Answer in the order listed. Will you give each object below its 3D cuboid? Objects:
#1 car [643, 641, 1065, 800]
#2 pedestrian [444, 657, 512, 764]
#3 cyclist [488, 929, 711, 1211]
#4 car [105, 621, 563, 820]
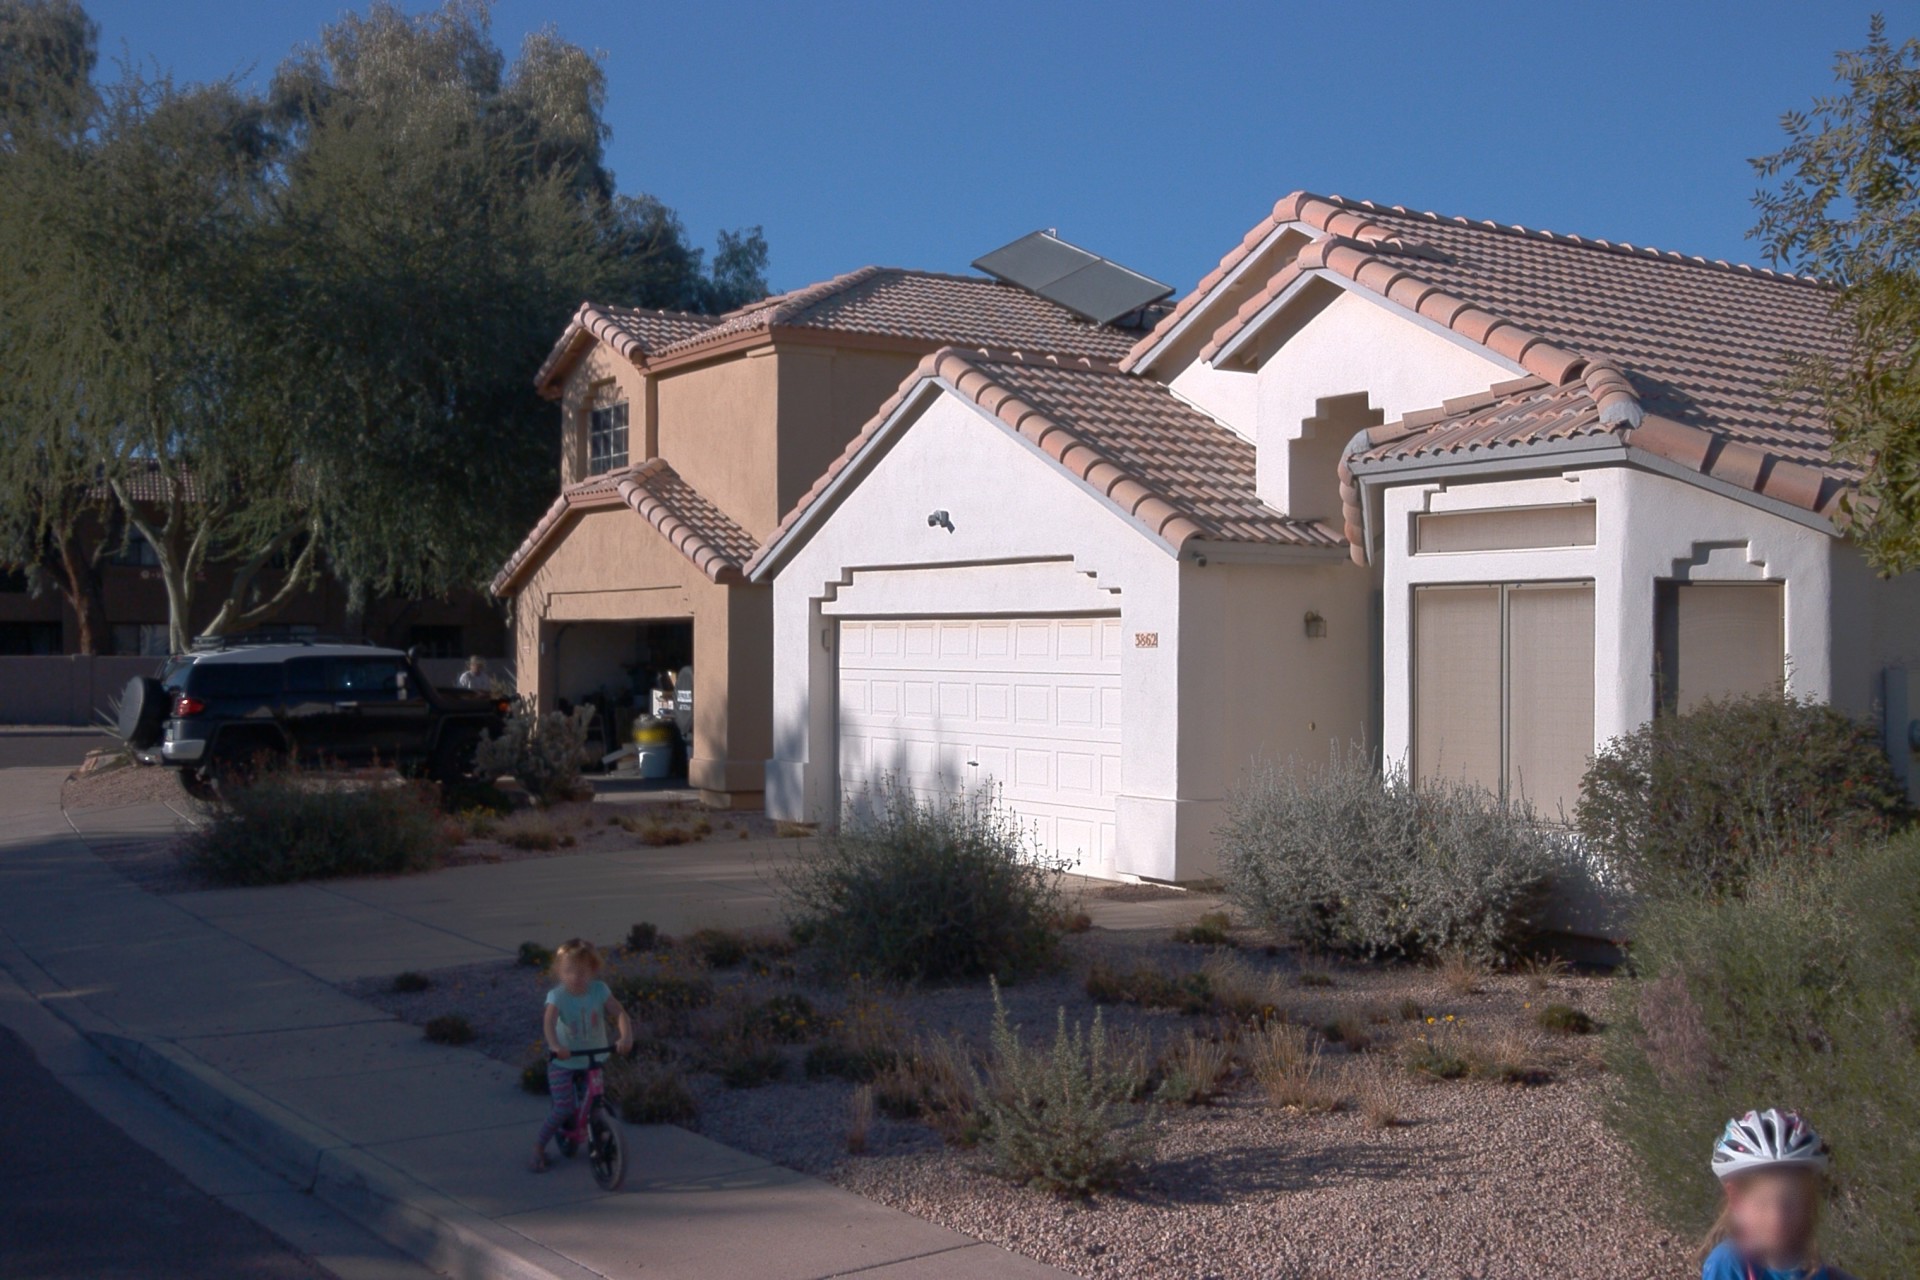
[{"bbox_3d":[-1.316,0.993,26.567,4.987,1.880,2.056,1,-1,-32],"label":"car"},{"bbox_3d":[-7.977,1.154,34.290,0.855,1.730,1.007,1,0,2],"label":"pedestrian"},{"bbox_3d":[-1.398,1.622,7.961,0.527,0.890,0.831,1,-1,-35],"label":"cyclist"},{"bbox_3d":[-7.648,0.950,25.456,4.983,2.240,2.026,1,-1,-33],"label":"car"}]
